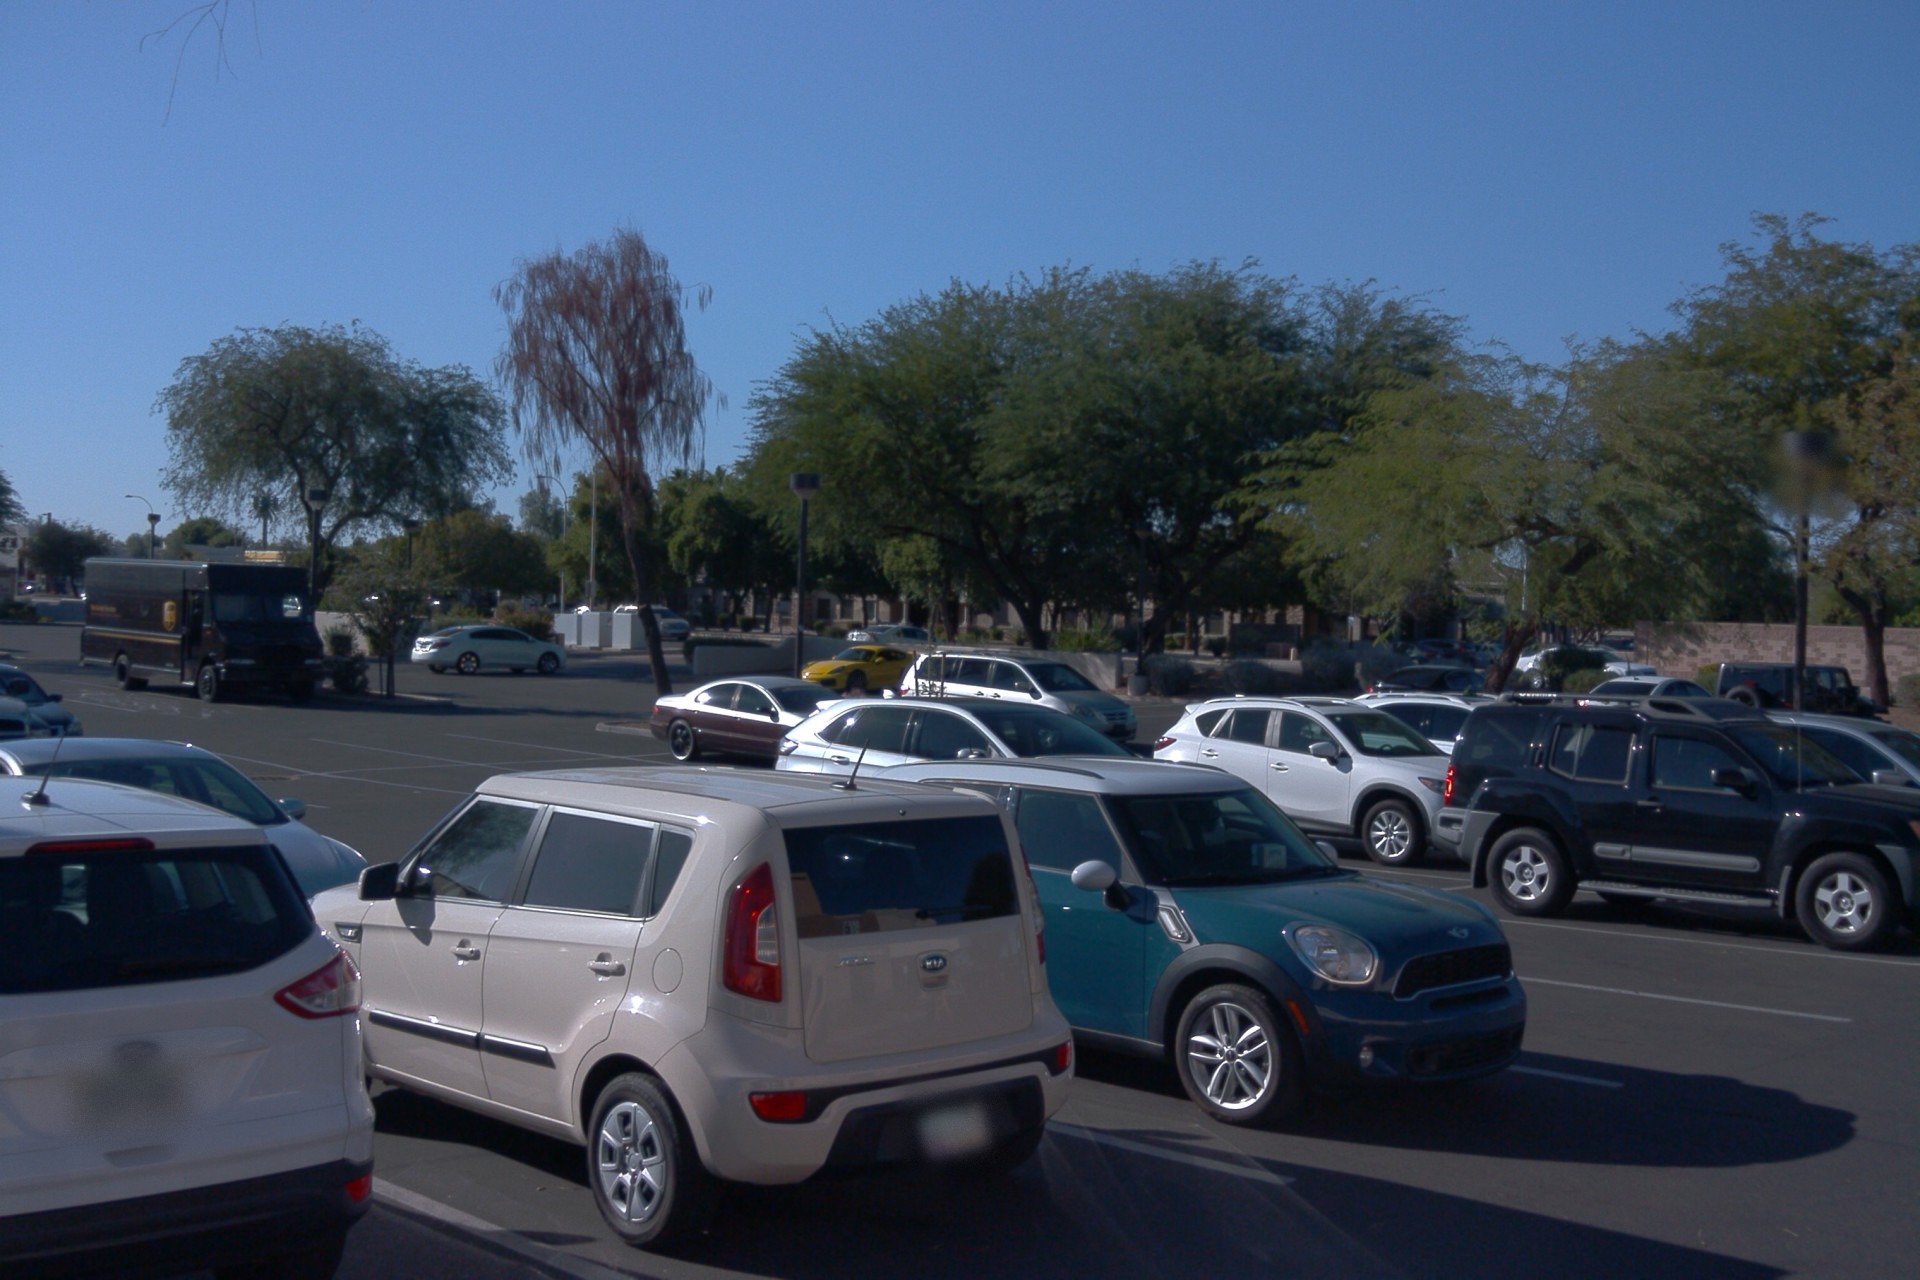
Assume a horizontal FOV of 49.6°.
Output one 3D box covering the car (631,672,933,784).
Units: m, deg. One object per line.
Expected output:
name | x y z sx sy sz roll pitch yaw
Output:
car | -2.979 1.367 33.930 5.046 1.600 2.114 1 0 44

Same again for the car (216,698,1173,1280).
car | -1.292 1.226 8.770 2.035 1.840 3.966 1 0 -43

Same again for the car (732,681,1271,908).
car | 0.282 1.293 19.168 4.659 1.720 2.253 1 0 44

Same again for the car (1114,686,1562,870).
car | 4.117 1.432 23.078 2.160 1.720 4.434 1 0 -45

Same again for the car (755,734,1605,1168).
car | 0.991 1.386 10.731 2.003 1.600 3.979 1 0 -45

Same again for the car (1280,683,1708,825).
car | 6.445 1.314 25.404 2.057 1.460 4.663 1 0 -45
